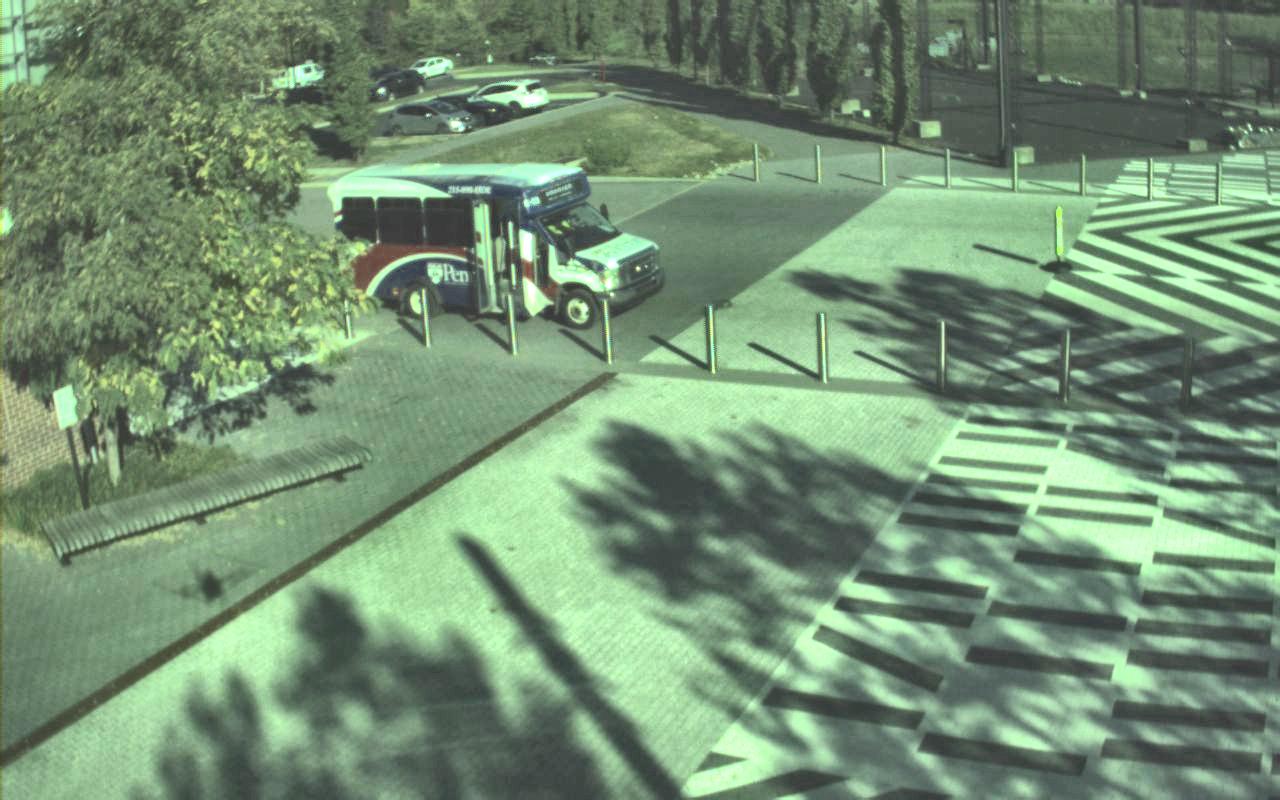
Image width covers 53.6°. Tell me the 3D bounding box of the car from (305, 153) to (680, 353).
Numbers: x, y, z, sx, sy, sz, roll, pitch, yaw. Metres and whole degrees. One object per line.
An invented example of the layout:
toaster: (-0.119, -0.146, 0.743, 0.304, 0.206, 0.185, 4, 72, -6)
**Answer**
car: (-2.920, -3.004, 23.662, 6.847, 2.965, 2.647, 8, 18, 28)

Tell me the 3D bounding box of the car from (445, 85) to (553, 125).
car: (-6.486, -13.477, 56.607, 4.523, 1.677, 2.002, 7, 18, 24)
